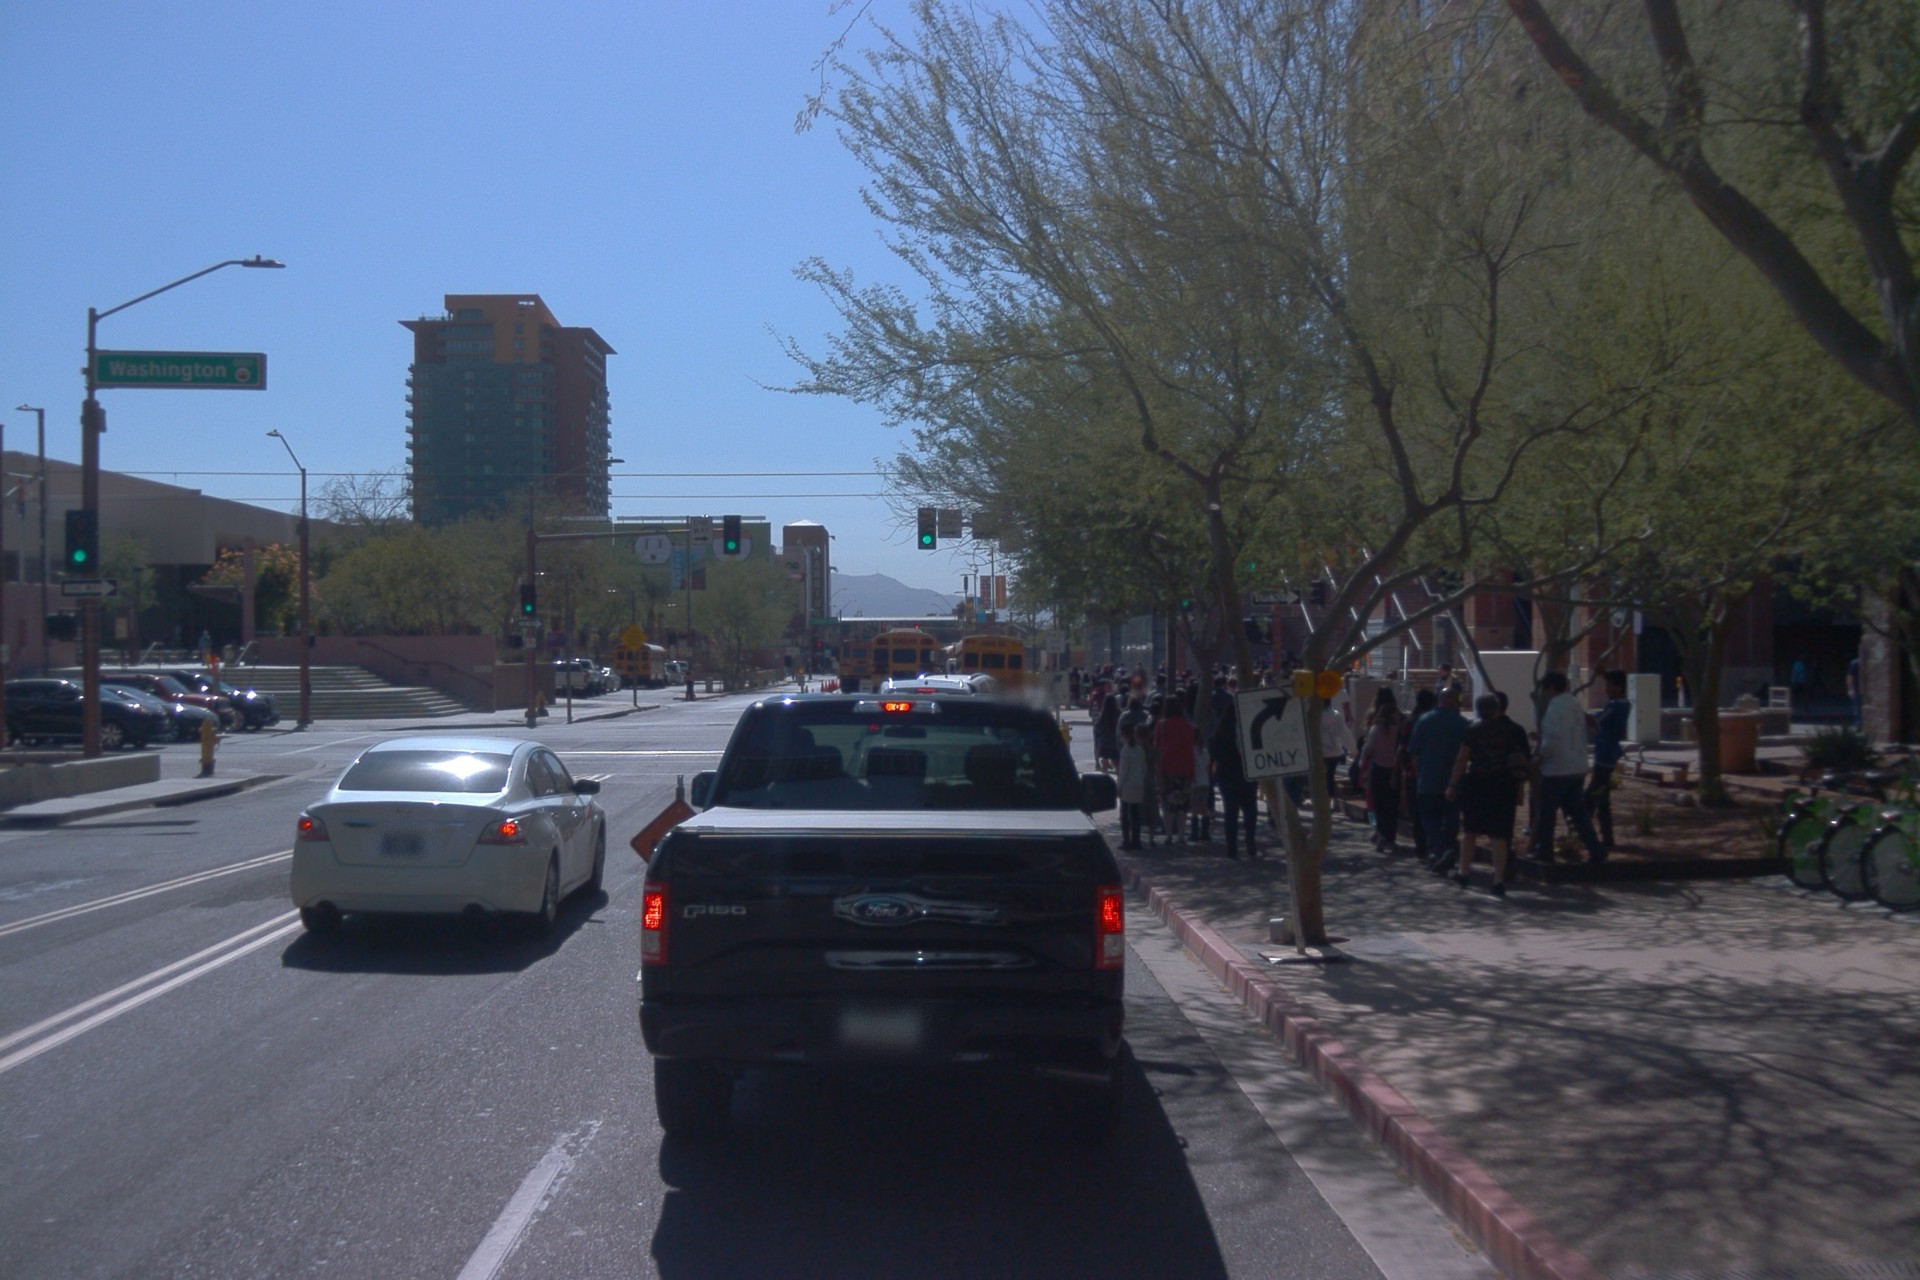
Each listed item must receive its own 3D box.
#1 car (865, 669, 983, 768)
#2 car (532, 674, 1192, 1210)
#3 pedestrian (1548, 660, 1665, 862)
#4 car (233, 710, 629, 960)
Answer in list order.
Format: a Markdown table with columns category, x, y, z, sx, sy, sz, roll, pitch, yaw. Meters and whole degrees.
| category | x | y | z | sx | sy | sz | roll | pitch | yaw |
| --- | --- | --- | --- | --- | --- | --- | --- | --- | --- |
| car | -0.512 | 1.209 | 33.213 | 1.753 | 1.430 | 4.270 | 0 | 0 | 1 |
| car | -0.355 | 1.185 | 10.529 | 2.486 | 1.950 | 5.329 | 0 | 0 | 0 |
| pedestrian | 6.165 | 1.135 | 19.859 | 0.835 | 1.880 | 0.792 | 0 | 0 | -2 |
| car | -4.002 | 1.418 | 16.669 | 2.095 | 1.570 | 4.888 | 0 | 0 | -2 |
